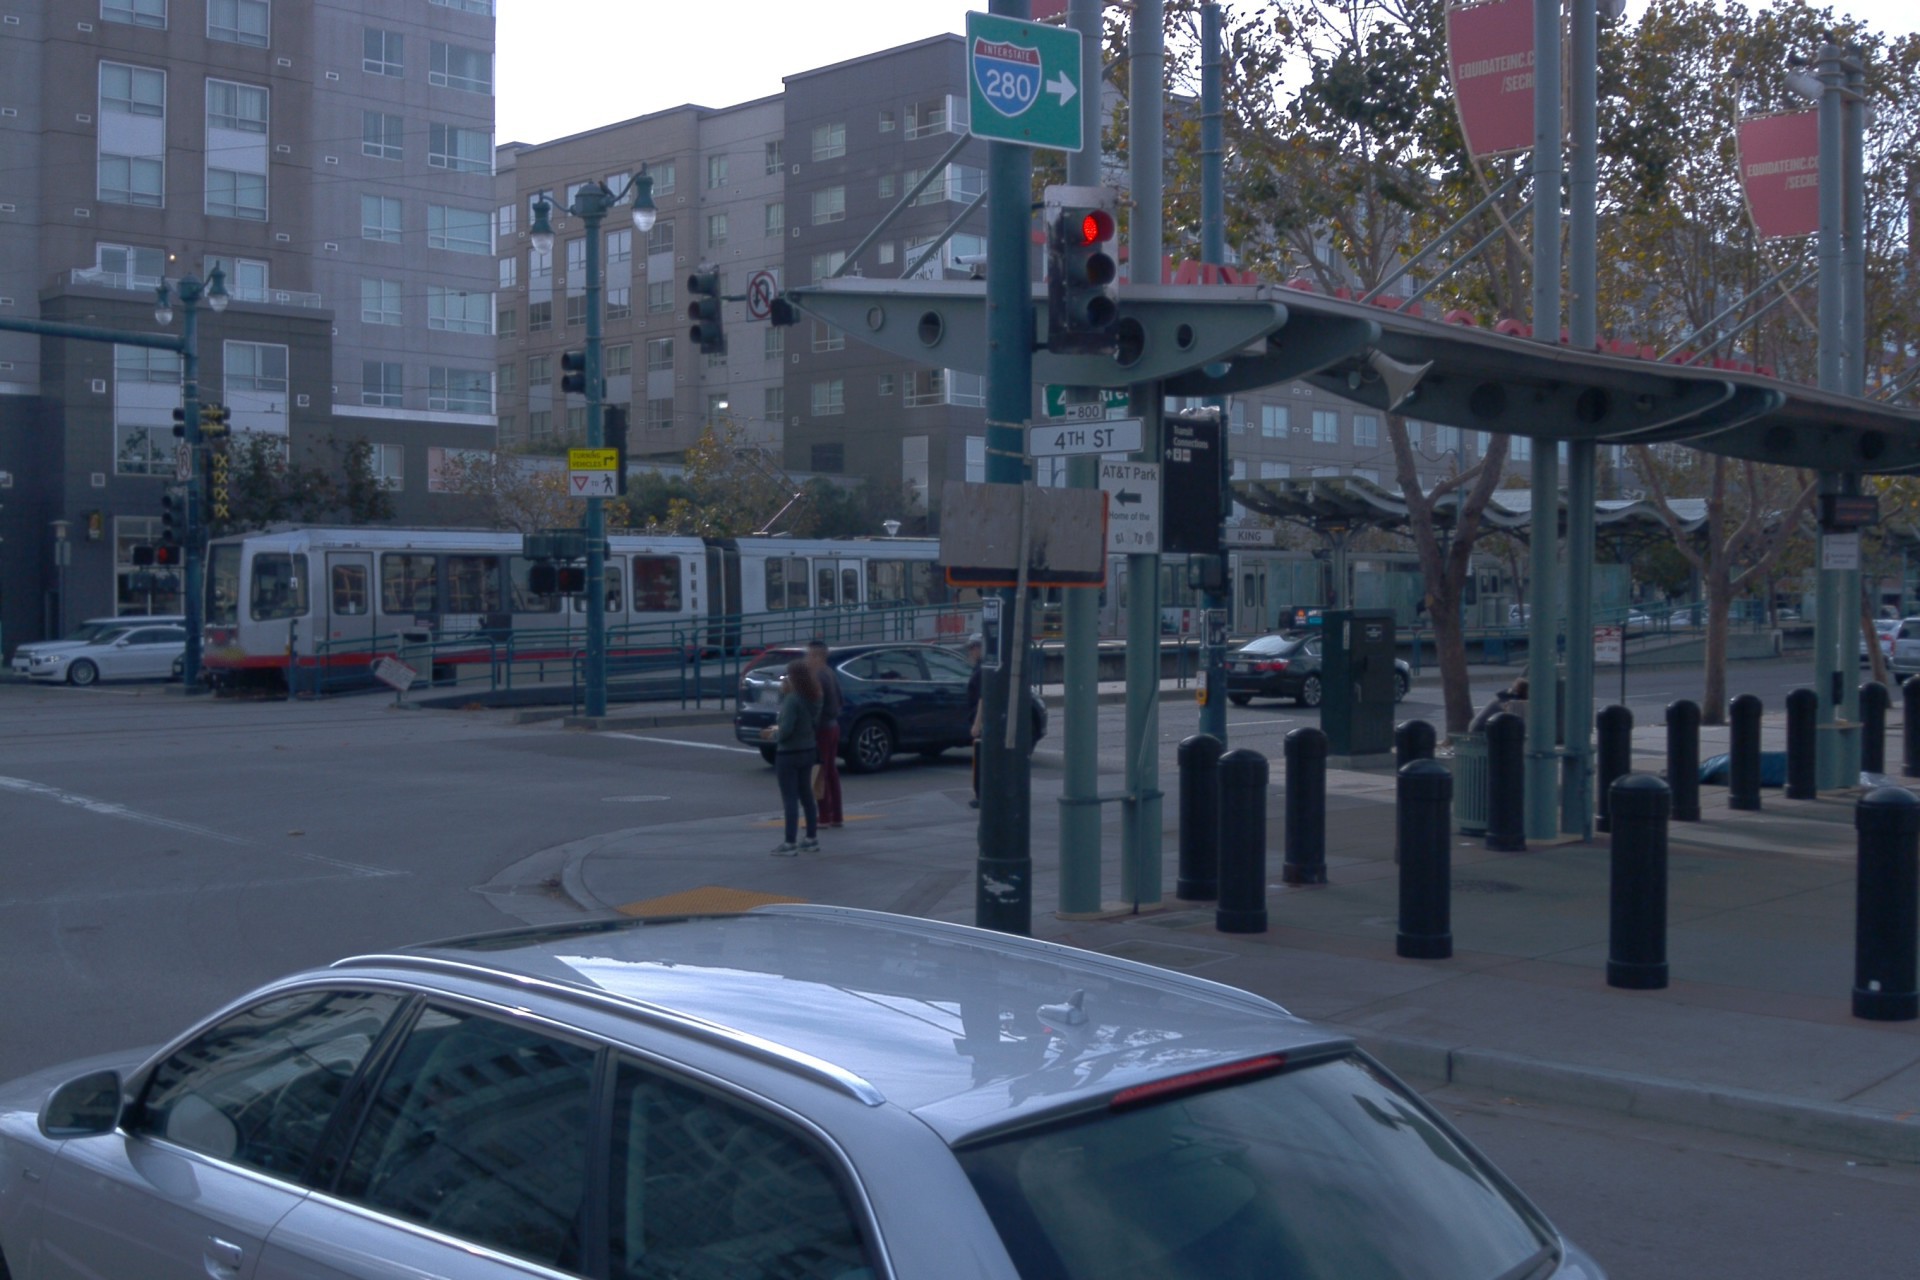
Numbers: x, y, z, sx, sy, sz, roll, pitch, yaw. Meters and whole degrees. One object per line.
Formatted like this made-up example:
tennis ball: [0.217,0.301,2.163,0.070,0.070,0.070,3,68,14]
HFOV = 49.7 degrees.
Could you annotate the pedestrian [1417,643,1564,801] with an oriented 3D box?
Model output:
pedestrian: [5.653,0.845,22.038,1.168,1.605,1.218,1,0,32]

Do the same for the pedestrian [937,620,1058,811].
pedestrian: [0.381,0.739,20.824,0.867,1.858,0.865,1,0,31]

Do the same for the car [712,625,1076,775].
car: [-0.790,0.741,27.258,2.059,1.792,4.602,1,0,45]

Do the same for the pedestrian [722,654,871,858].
pedestrian: [-1.369,0.944,17.341,1.016,1.642,0.678,1,0,36]

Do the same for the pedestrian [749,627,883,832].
pedestrian: [-1.314,0.805,19.067,0.980,1.819,0.928,1,0,12]
